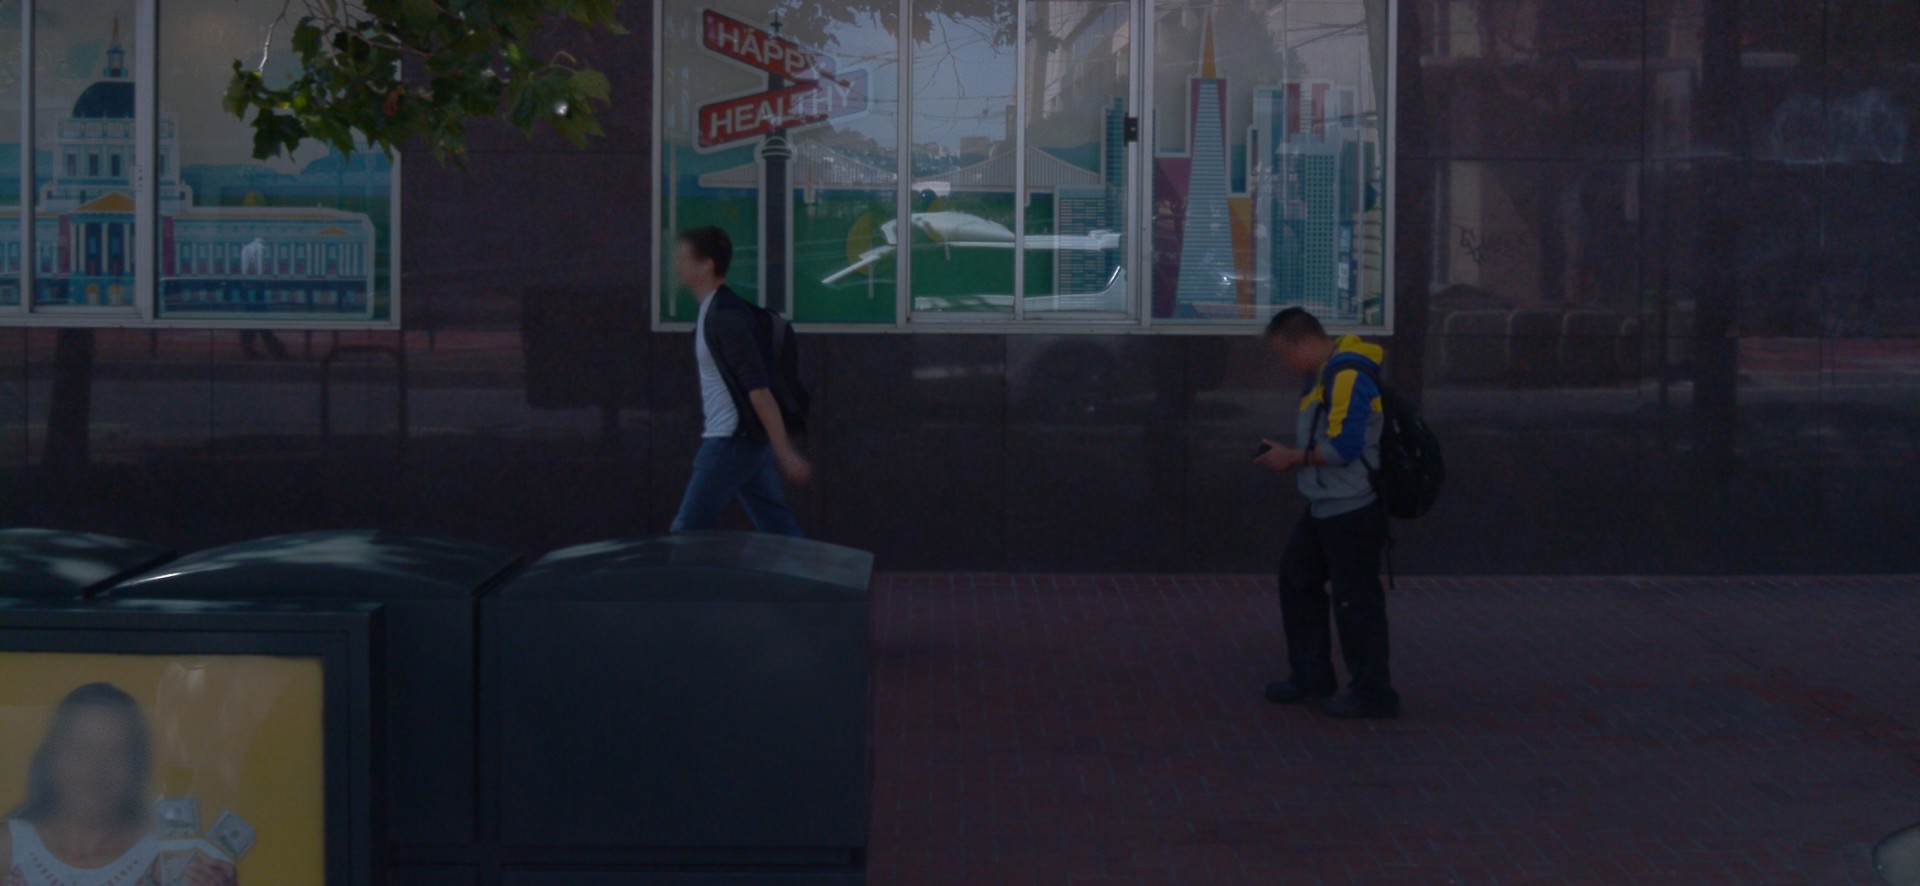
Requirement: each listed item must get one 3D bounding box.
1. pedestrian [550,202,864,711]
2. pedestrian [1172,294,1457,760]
[{"bbox_3d":[-1.059,0.000,8.526,1.229,1.979,0.867,0,1,-10],"label":"pedestrian"},{"bbox_3d":[1.326,0.274,7.827,1.022,1.659,0.711,0,1,7],"label":"pedestrian"}]
